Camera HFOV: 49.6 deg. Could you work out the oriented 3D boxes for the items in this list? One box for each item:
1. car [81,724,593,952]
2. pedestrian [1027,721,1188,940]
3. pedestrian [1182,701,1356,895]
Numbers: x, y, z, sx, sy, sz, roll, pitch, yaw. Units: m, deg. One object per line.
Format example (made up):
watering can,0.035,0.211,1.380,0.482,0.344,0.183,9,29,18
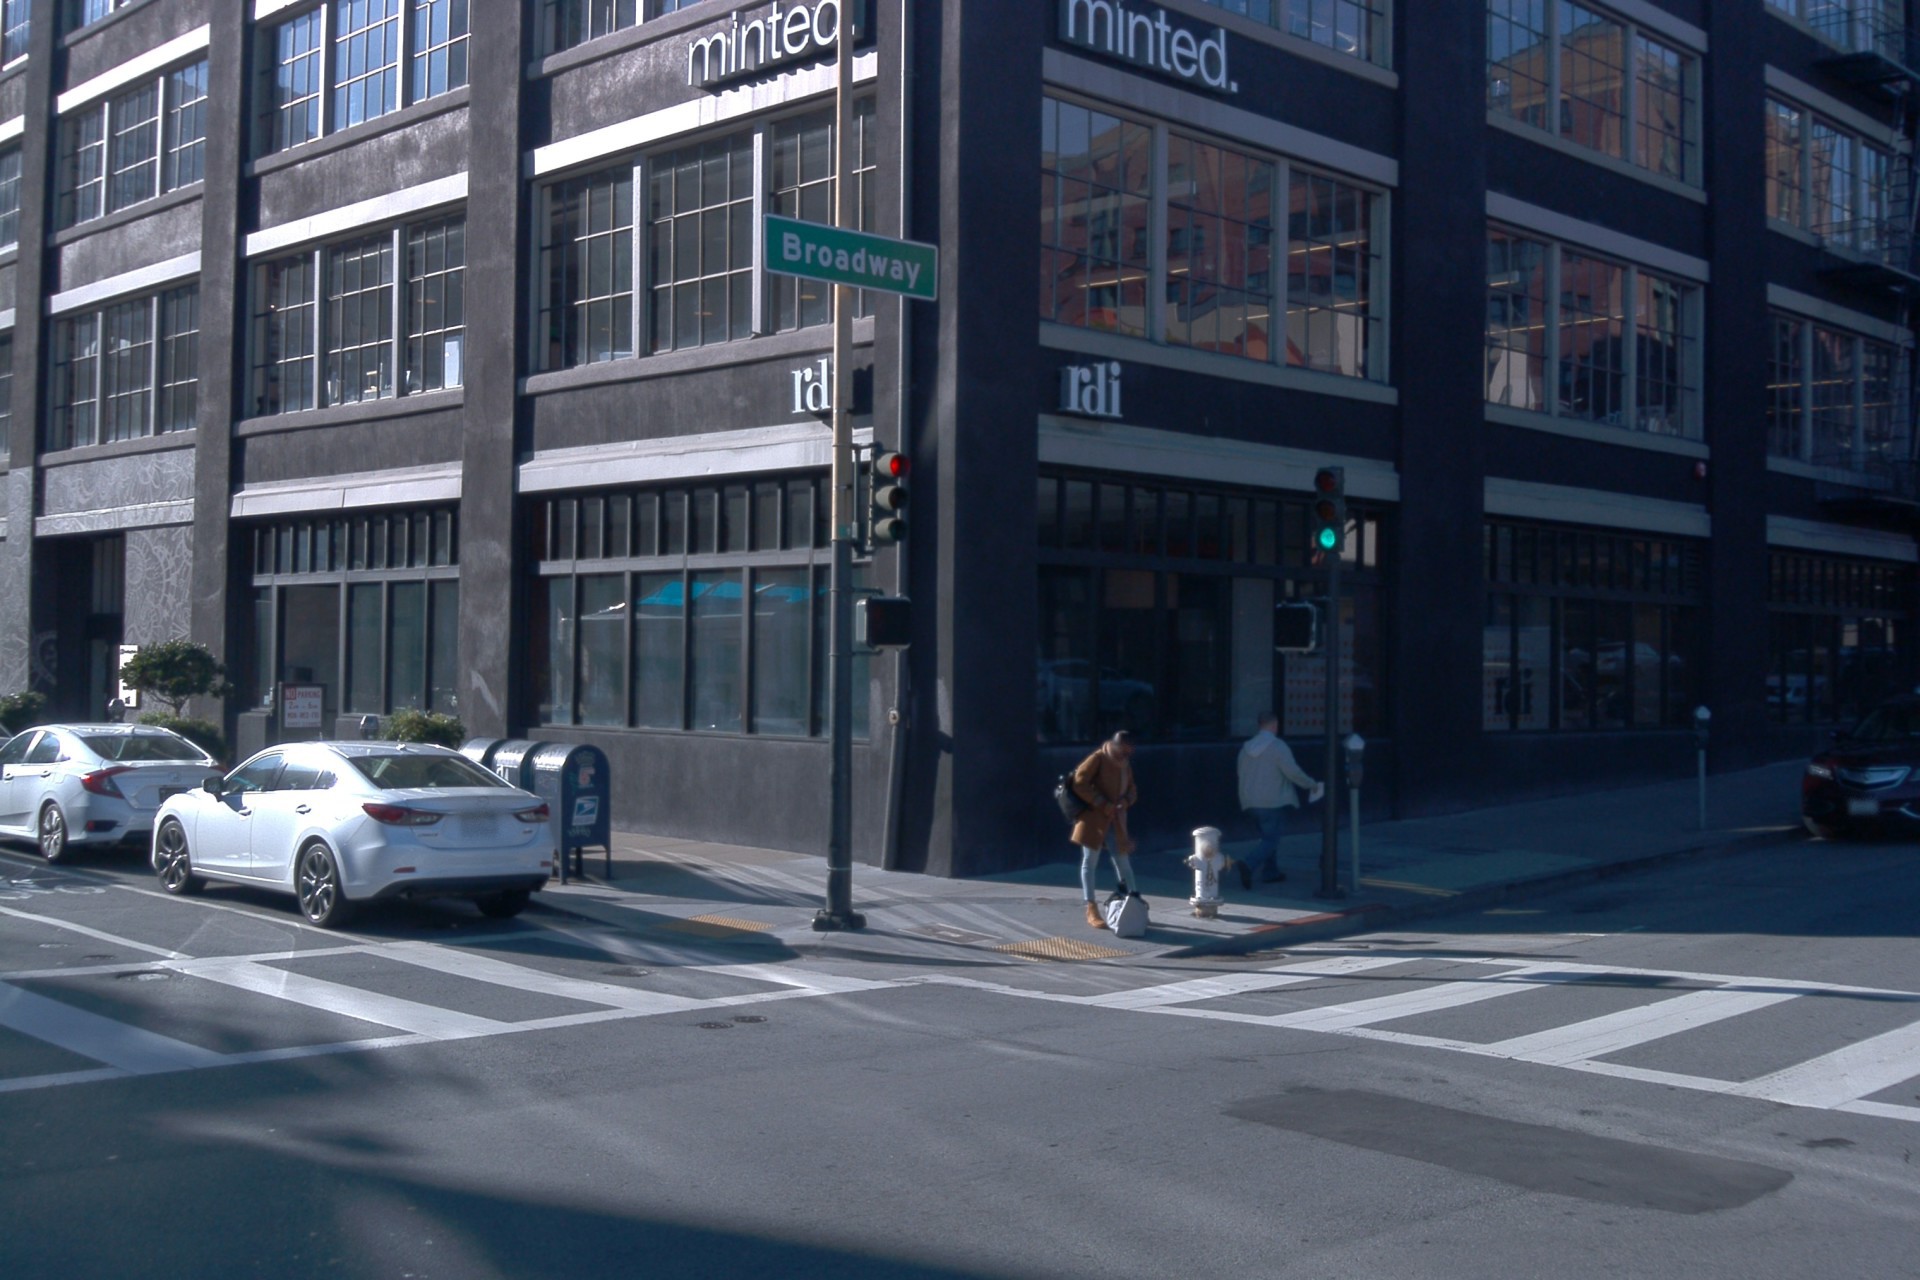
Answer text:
car,-5.458,1.561,17.793,2.162,1.510,4.830,2,-1,-45
pedestrian,1.194,1.521,16.919,0.985,1.680,1.012,1,-1,-19
pedestrian,2.863,1.428,19.238,1.039,1.690,1.254,0,-1,44
